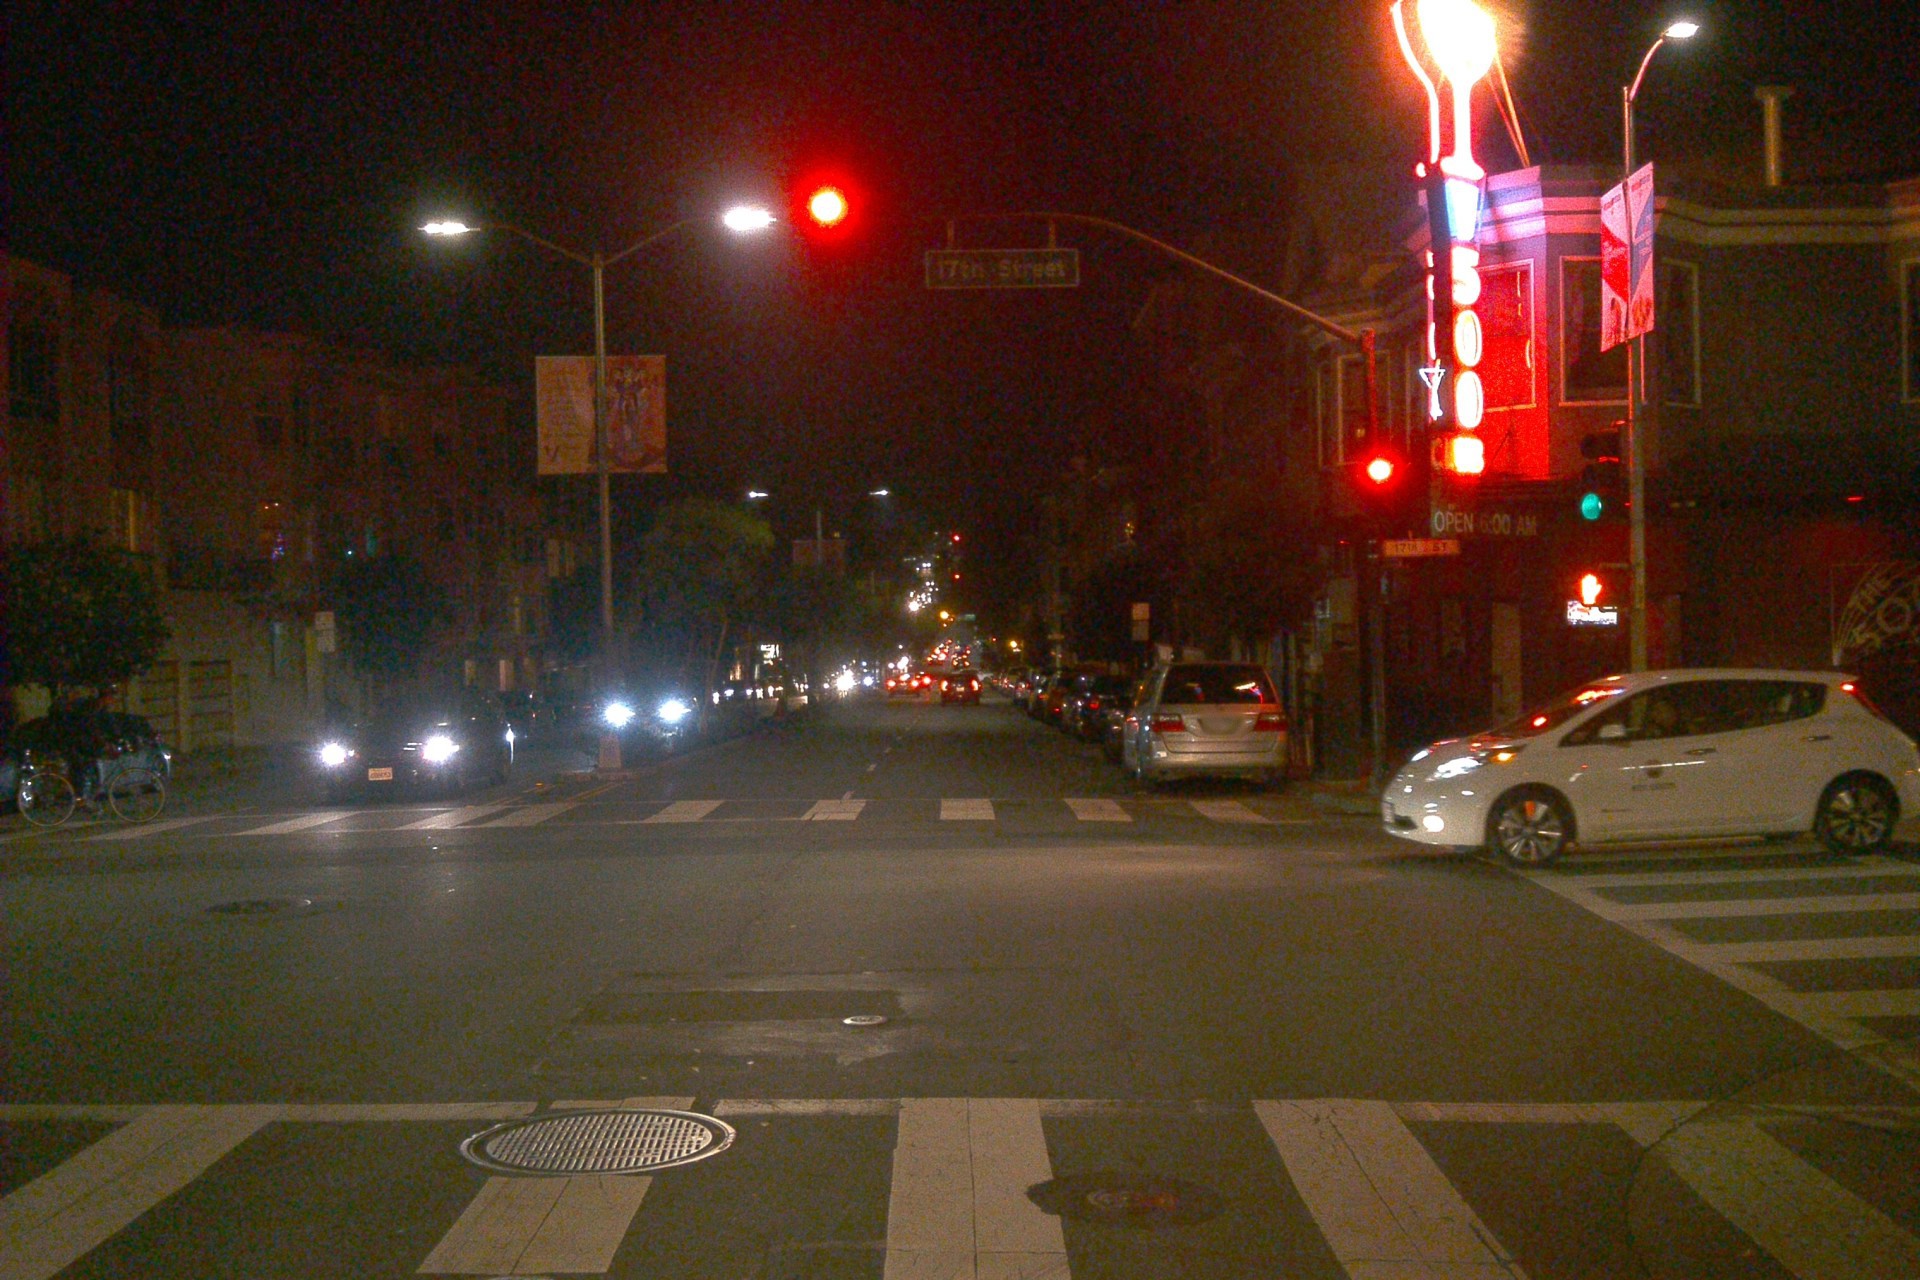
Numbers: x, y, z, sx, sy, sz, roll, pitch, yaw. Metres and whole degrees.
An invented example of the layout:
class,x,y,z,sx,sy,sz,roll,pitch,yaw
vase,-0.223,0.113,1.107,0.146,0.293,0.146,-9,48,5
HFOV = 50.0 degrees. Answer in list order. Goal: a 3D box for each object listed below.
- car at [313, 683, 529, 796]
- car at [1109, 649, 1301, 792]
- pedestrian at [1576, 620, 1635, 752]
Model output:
class,x,y,z,sx,sy,sz,roll,pitch,yaw
car,-7.621,1.368,29.525,1.903,1.390,4.511,1,0,0
car,3.288,1.034,28.478,2.087,1.770,4.655,1,0,0
pedestrian,9.051,0.630,28.839,0.739,1.820,0.628,1,0,20
